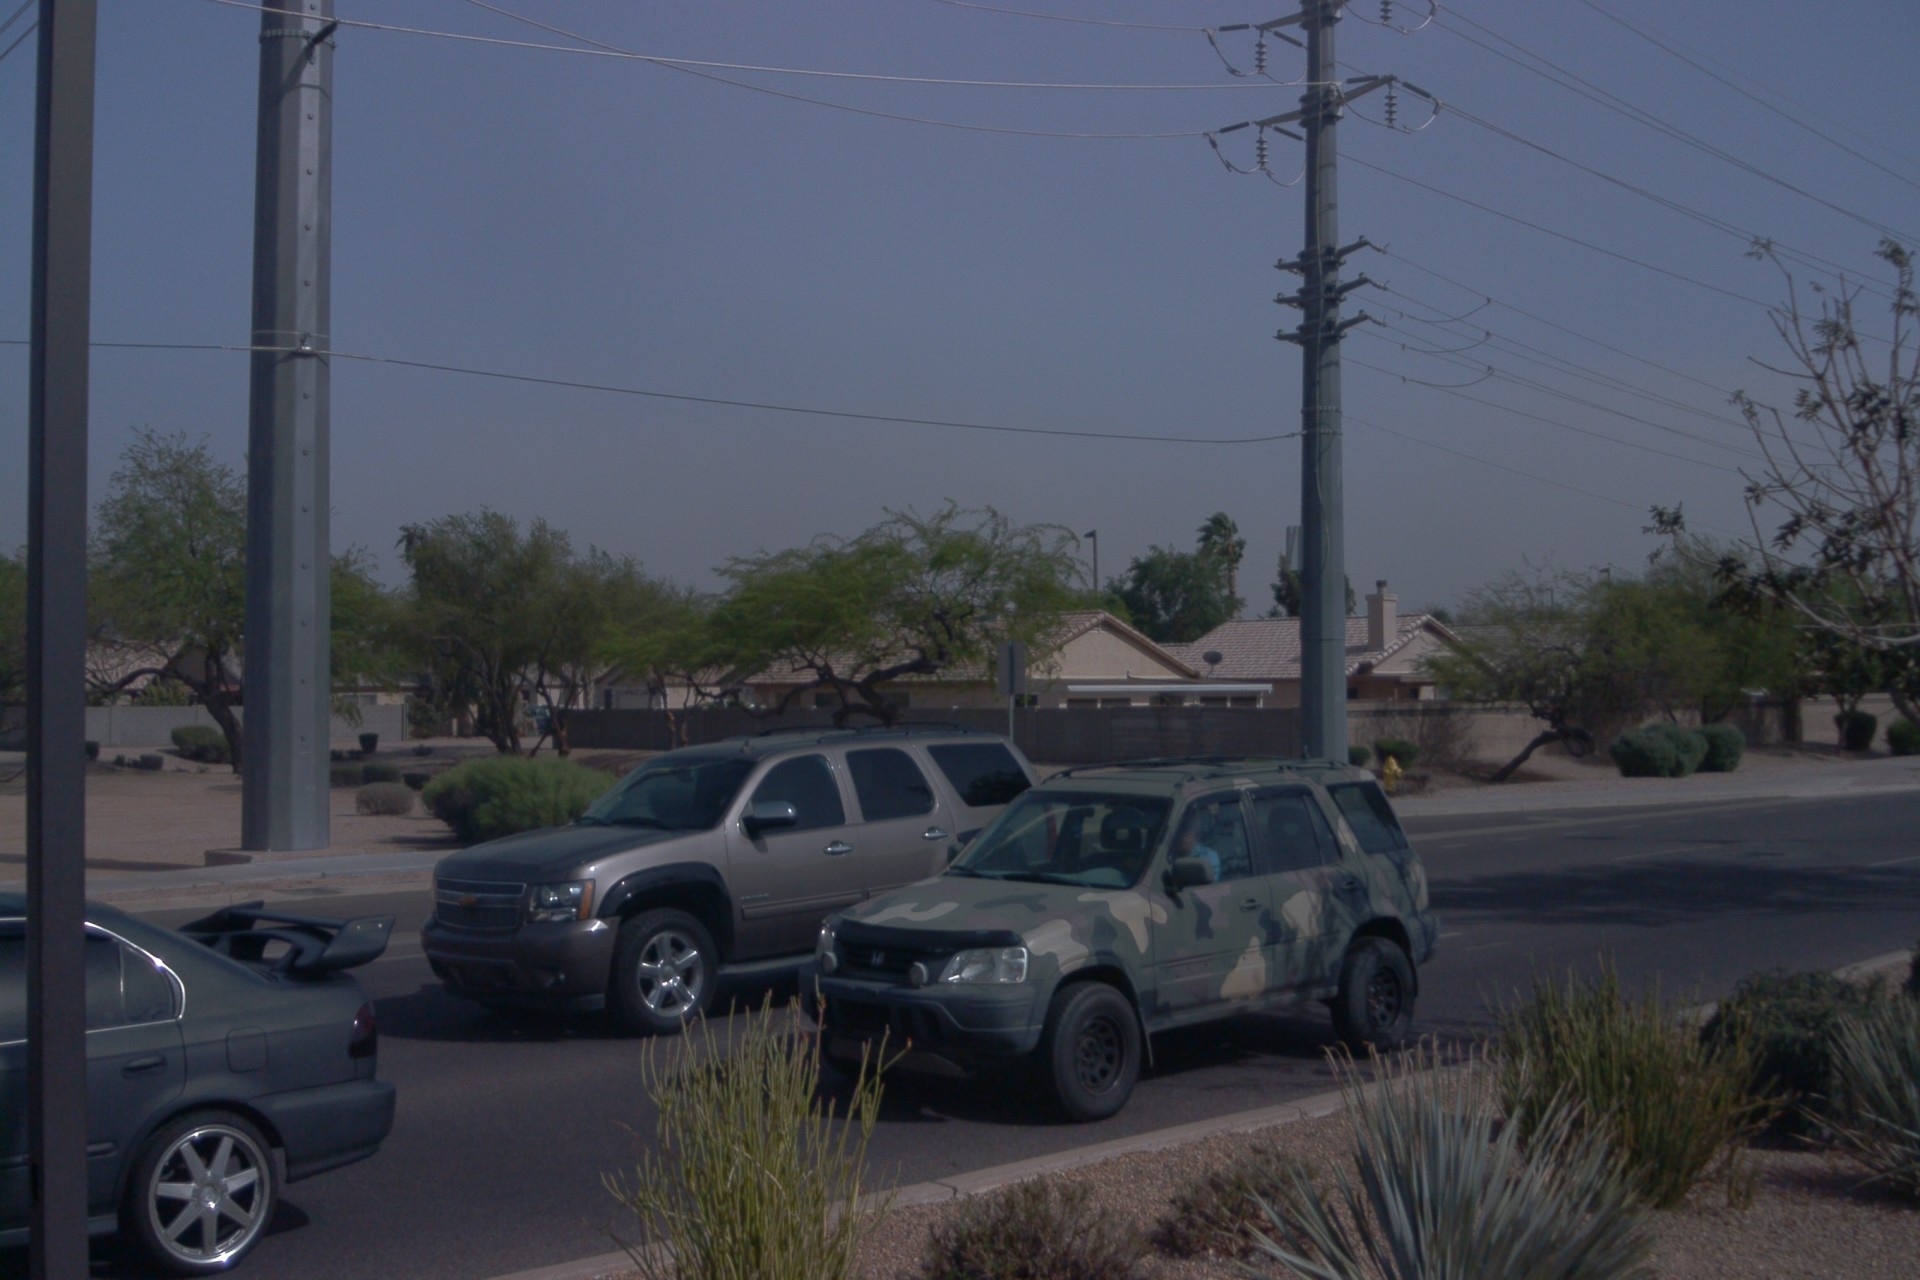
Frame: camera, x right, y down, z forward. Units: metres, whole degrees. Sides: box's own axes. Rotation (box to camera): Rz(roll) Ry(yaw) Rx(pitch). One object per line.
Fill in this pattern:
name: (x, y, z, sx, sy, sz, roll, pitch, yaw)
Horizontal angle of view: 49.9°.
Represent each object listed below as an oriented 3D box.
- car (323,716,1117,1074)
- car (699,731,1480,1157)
car: (-1.523, 1.611, 15.048, 2.383, 1.970, 5.478, 0, -1, 43)
car: (0.902, 1.491, 11.731, 2.022, 1.790, 4.411, 0, -1, 44)
